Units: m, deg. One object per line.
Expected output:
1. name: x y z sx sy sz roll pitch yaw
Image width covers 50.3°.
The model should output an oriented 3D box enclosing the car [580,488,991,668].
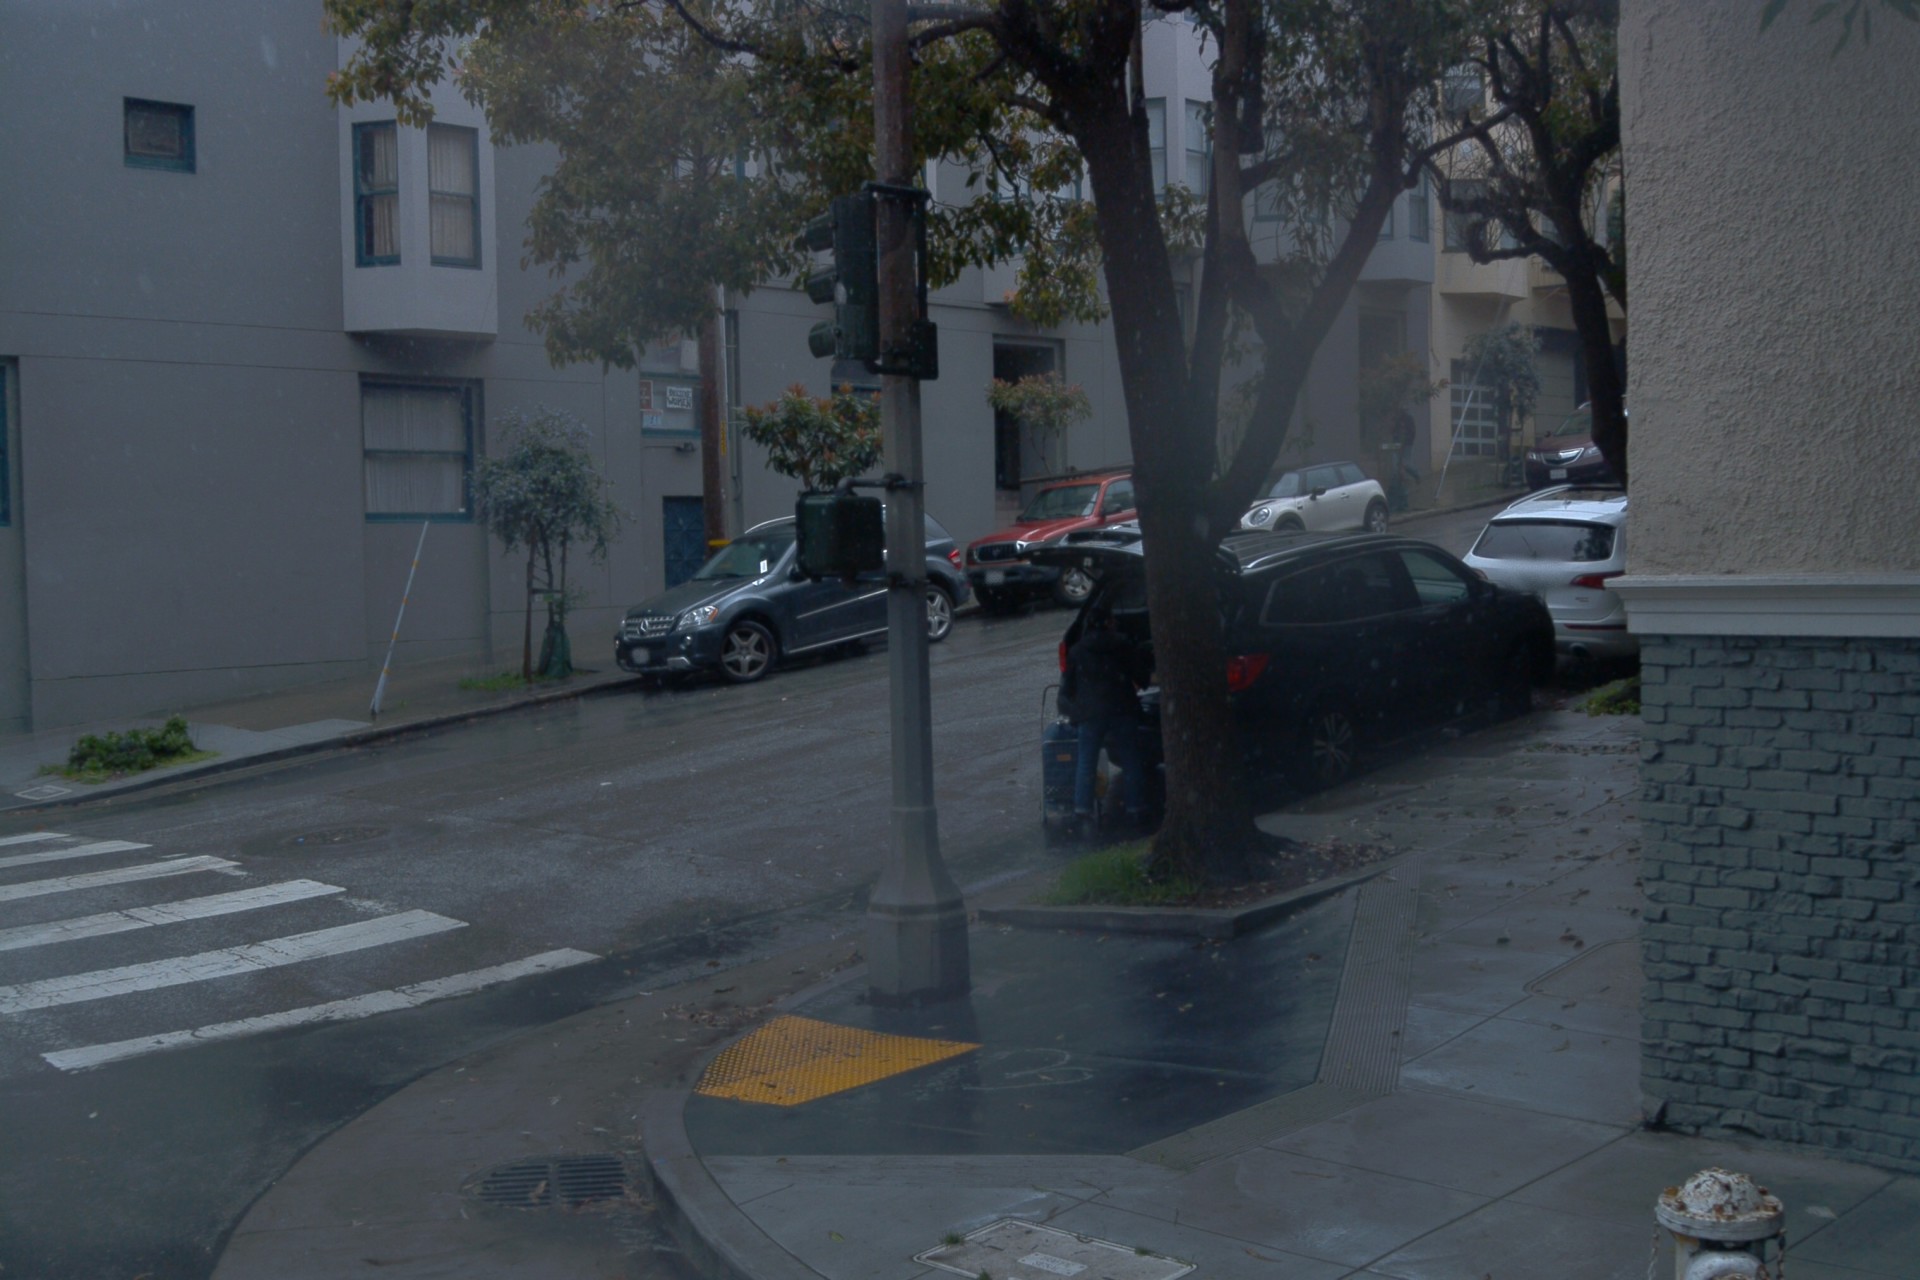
1. car: -2.050 -0.677 24.964 2.225 1.980 4.671 0 0 45

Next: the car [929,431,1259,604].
1. car: 1.985 -1.648 29.237 4.537 2.180 2.259 0 0 -45

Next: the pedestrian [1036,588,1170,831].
1. pedestrian: 1.007 0.467 14.254 0.793 1.634 0.885 0 0 14

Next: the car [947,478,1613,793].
1. car: 2.723 -0.023 16.096 2.384 2.040 5.680 0 0 43

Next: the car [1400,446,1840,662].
1. car: 6.523 -0.726 19.878 2.355 1.840 4.675 0 0 42
